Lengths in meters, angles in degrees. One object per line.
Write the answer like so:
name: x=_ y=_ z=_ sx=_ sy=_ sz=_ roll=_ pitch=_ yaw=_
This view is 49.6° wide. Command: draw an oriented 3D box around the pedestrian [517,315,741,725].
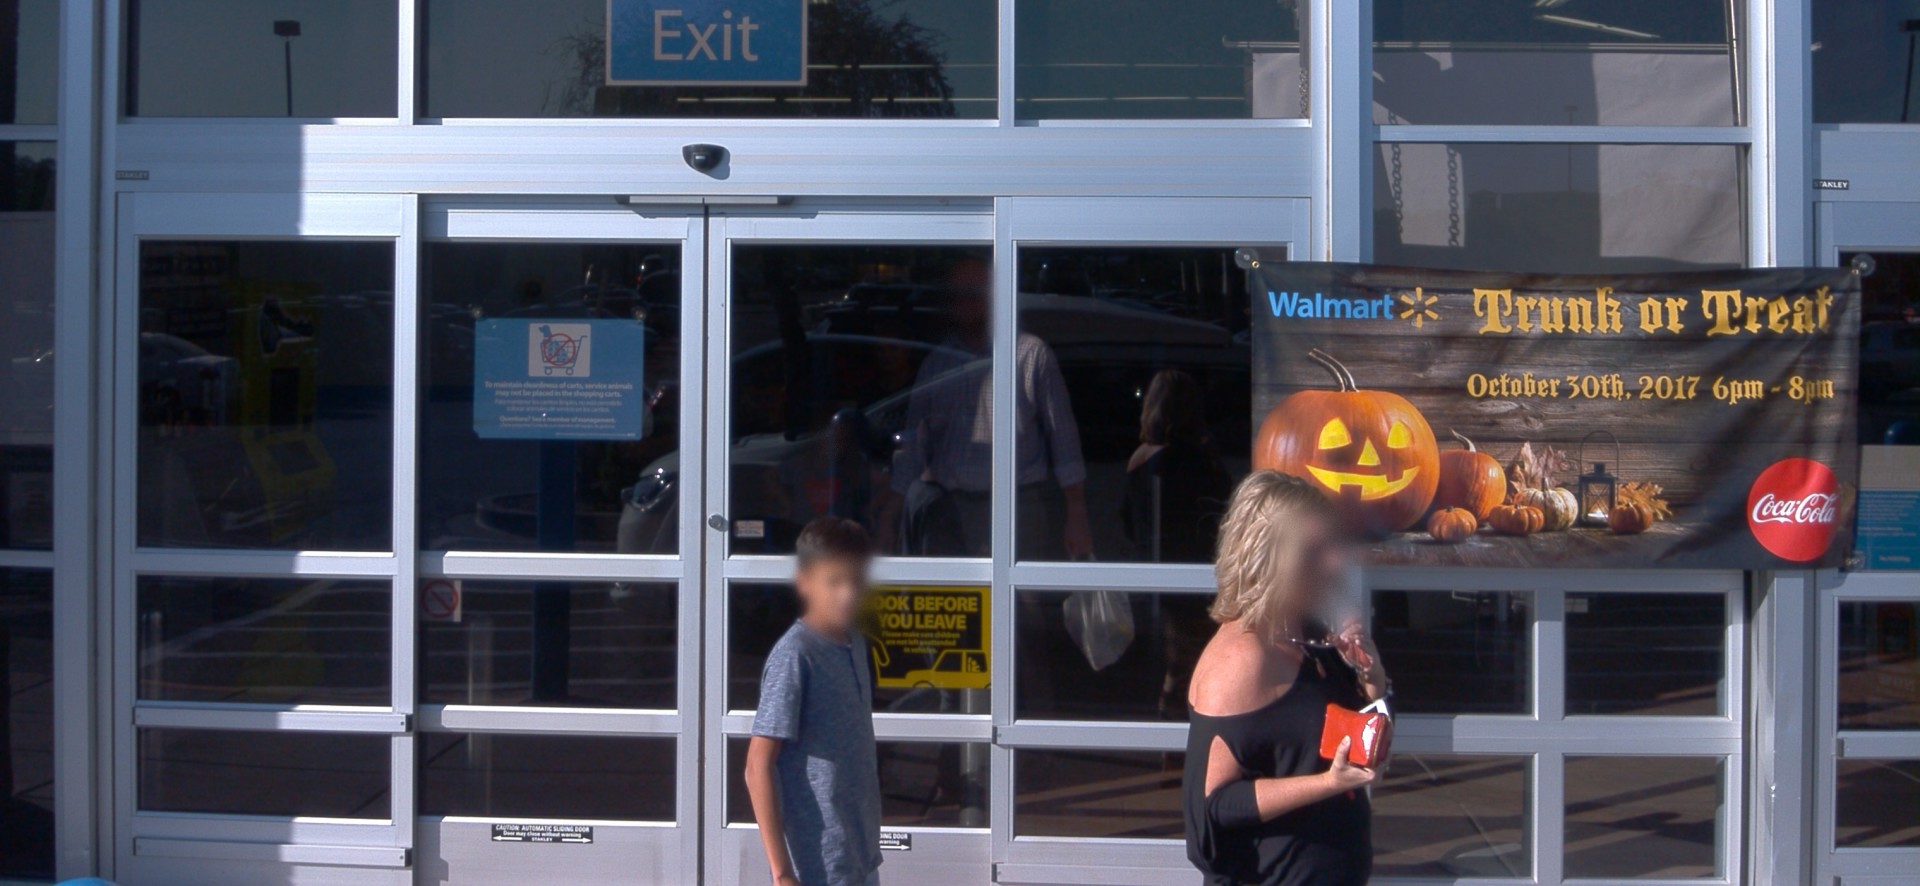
pedestrian: x=-1.485 y=0.293 z=9.260 sx=0.797 sy=1.690 sz=0.782 roll=0 pitch=1 yaw=-24

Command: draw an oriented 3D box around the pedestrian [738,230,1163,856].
pedestrian: x=0.001 y=0.256 z=7.533 sx=1.205 sy=2.040 sz=1.140 roll=1 pitch=1 yaw=20

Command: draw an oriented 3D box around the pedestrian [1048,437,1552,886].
pedestrian: x=0.583 y=0.905 z=3.677 sx=0.780 sy=1.750 sz=0.738 roll=1 pitch=1 yaw=7

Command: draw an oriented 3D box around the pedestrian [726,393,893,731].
pedestrian: x=-0.585 y=0.444 z=8.219 sx=0.536 sy=1.240 sz=0.545 roll=1 pitch=1 yaw=9

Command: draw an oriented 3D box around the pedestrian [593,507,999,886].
pedestrian: x=-0.316 y=0.935 z=4.393 sx=0.707 sy=1.490 sz=0.738 roll=1 pitch=1 yaw=7
